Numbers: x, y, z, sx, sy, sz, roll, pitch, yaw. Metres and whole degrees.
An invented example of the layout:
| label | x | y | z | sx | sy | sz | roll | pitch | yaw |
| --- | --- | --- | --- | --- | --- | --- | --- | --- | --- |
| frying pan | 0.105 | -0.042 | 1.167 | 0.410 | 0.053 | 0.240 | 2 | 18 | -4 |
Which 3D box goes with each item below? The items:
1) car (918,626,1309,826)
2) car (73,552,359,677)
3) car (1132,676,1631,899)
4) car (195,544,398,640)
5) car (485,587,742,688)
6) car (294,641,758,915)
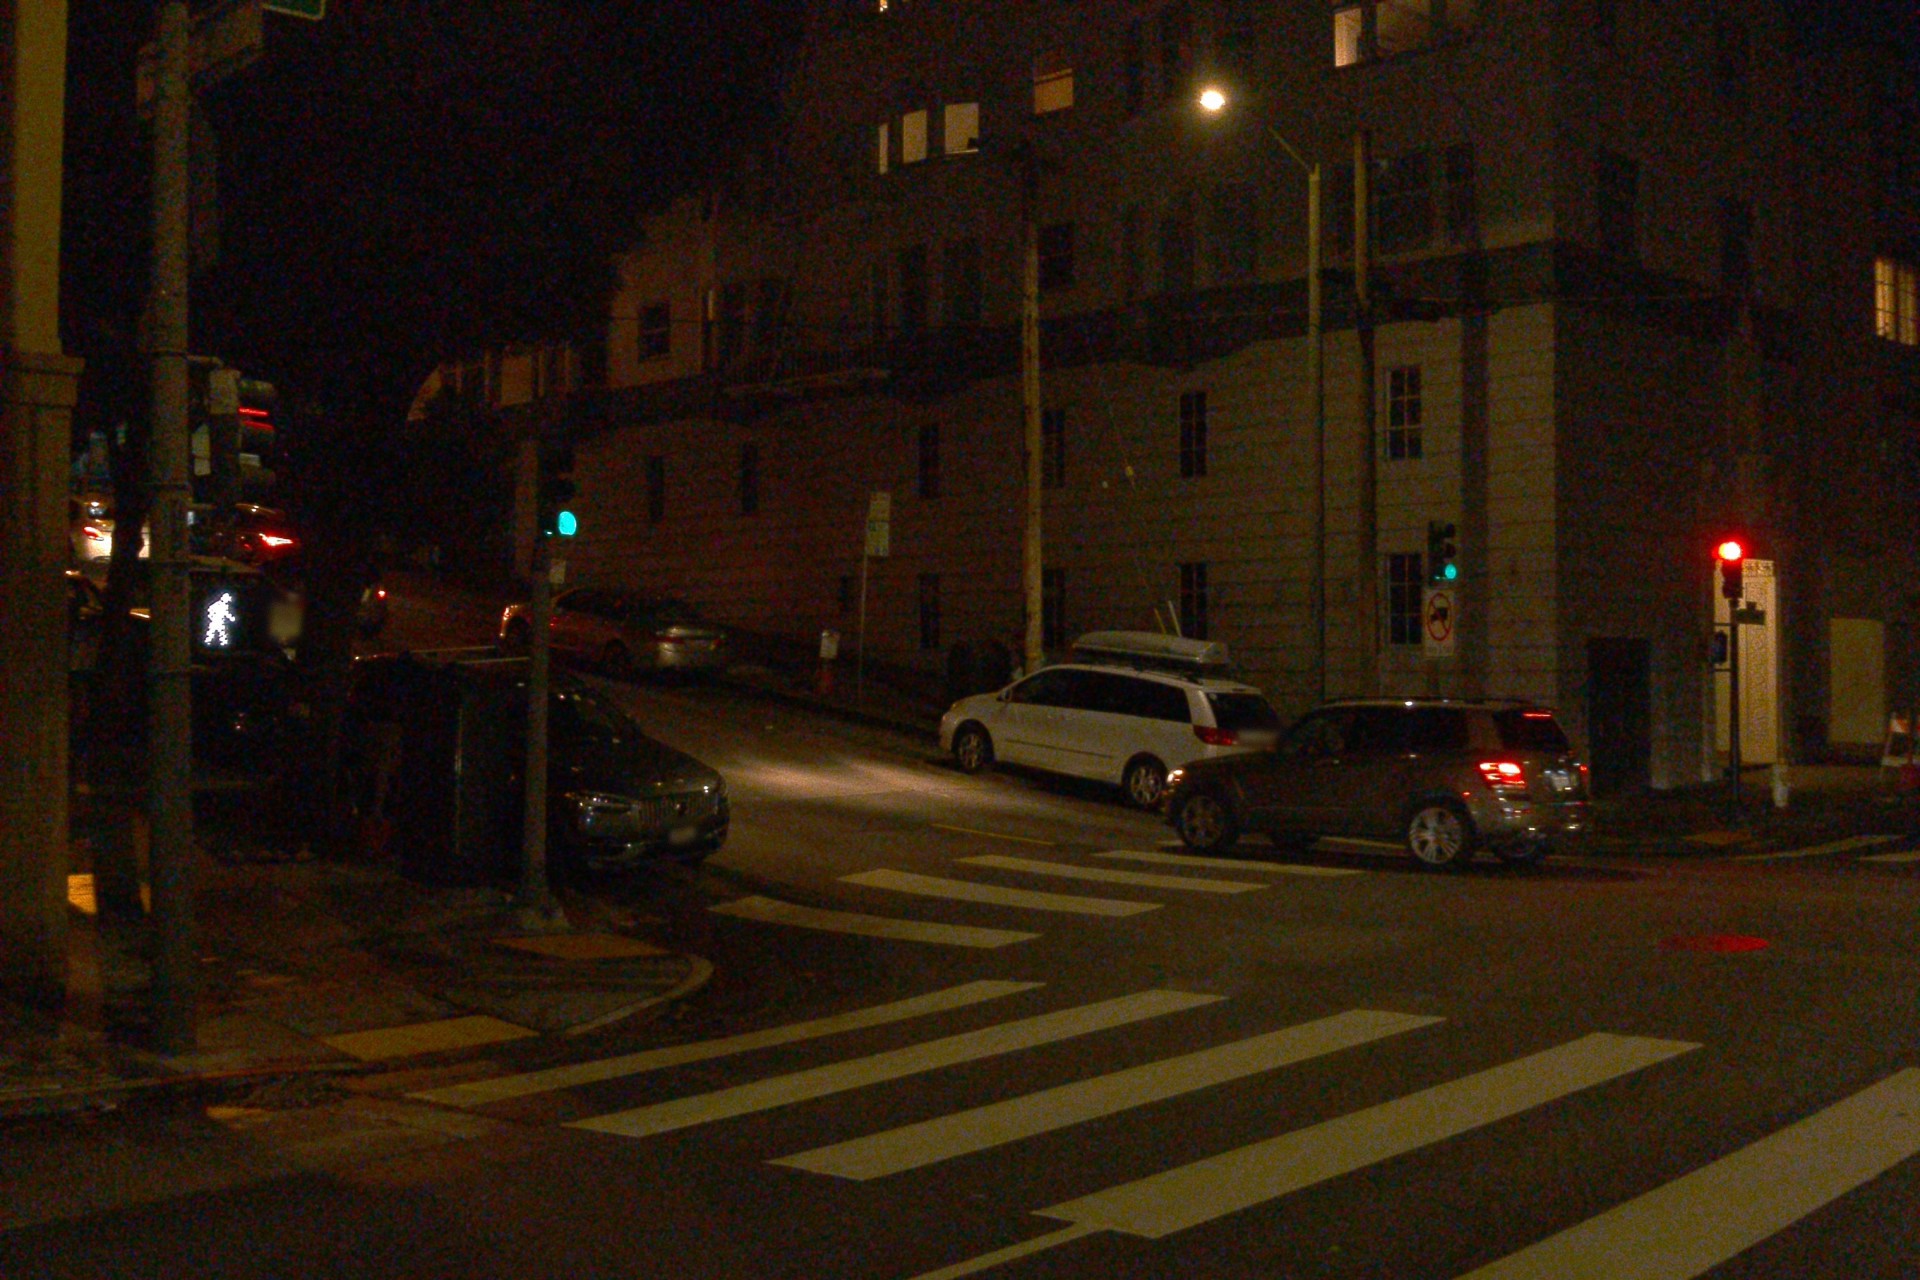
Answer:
| label | x | y | z | sx | sy | sz | roll | pitch | yaw |
| --- | --- | --- | --- | --- | --- | --- | --- | --- | --- |
| car | 1.965 | 1.033 | 27.375 | 4.904 | 2.388 | 2.213 | 1 | 1 | 44 |
| car | -11.365 | -0.385 | 31.076 | 4.872 | 1.748 | 2.181 | 1 | 1 | 45 |
| car | 4.193 | 1.375 | 20.850 | 4.561 | 1.883 | 2.058 | 1 | 1 | 43 |
| car | -11.744 | -0.825 | 36.123 | 3.818 | 1.586 | 1.850 | 1 | 1 | 45 |
| car | -5.990 | -0.067 | 35.084 | 4.539 | 1.626 | 1.925 | 1 | 1 | 42 |
| car | -4.356 | 1.190 | 20.047 | 2.195 | 2.290 | 4.784 | 0 | 1 | -44 |
